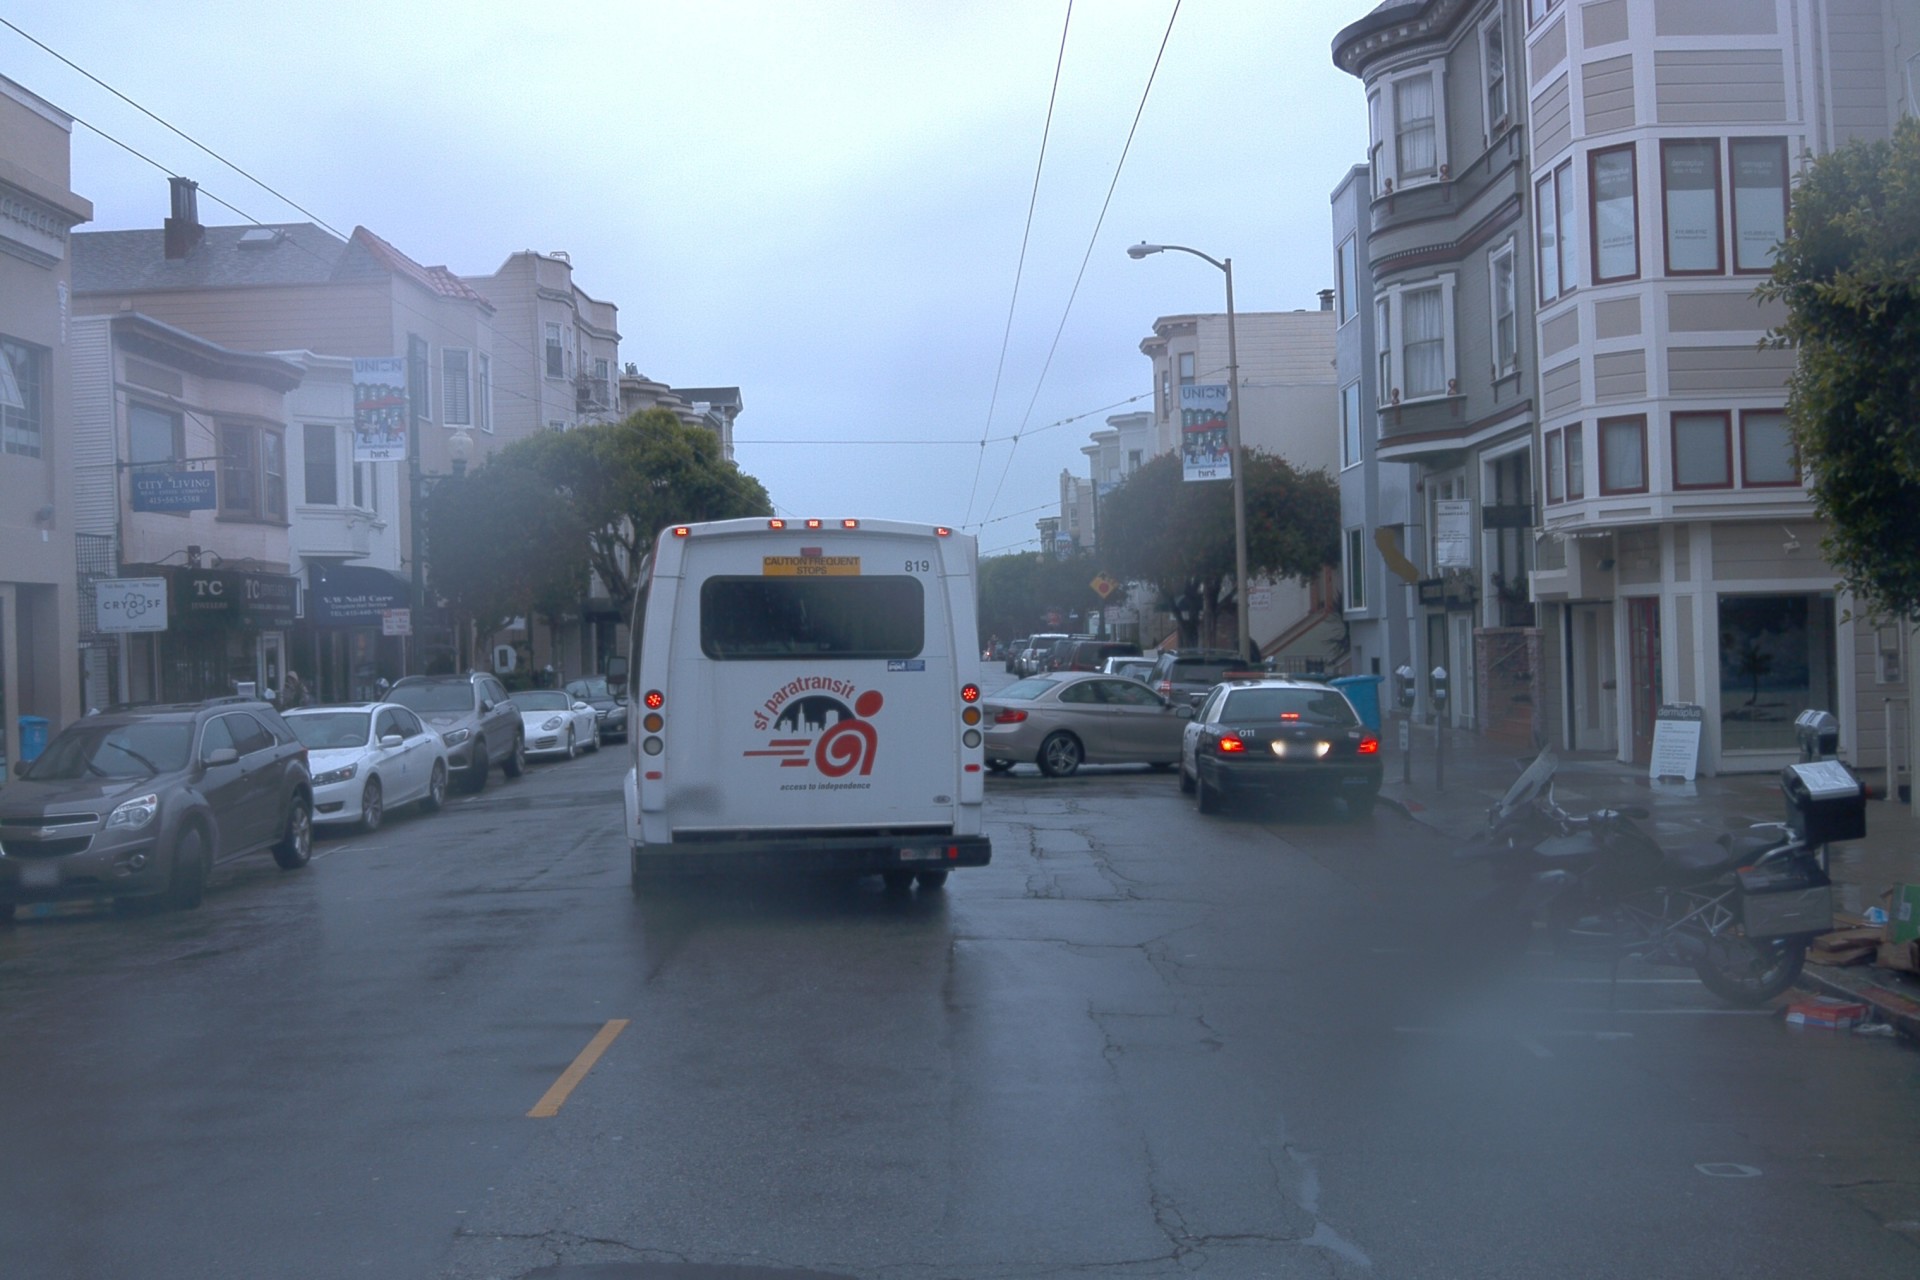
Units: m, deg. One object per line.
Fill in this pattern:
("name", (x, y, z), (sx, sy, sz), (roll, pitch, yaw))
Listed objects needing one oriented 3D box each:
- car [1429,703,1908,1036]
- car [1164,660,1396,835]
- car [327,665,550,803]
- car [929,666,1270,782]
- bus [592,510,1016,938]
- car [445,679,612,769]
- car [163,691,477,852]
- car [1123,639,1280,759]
("car", (3.840, 1.213, 11.420), (2.374, 1.650, 1.013), (1, 1, 12))
("car", (3.590, 1.139, 24.111), (2.108, 1.690, 5.363), (1, 1, 3))
("car", (-7.627, 1.312, 30.648), (2.149, 1.760, 4.917), (1, 1, -1))
("car", (1.974, 1.124, 28.877), (4.448, 1.470, 1.881), (0, 1, -29))
("bus", (-1.620, 0.530, 17.248), (2.784, 2.850, 6.713), (0, 1, -11))
("car", (-7.665, 1.462, 37.089), (2.114, 1.370, 4.598), (1, 1, -1))
("car", (-7.572, 1.495, 24.999), (2.131, 1.540, 5.132), (1, 1, 1))
("car", (3.928, 0.919, 34.232), (2.116, 1.790, 4.480), (1, 1, 1))
